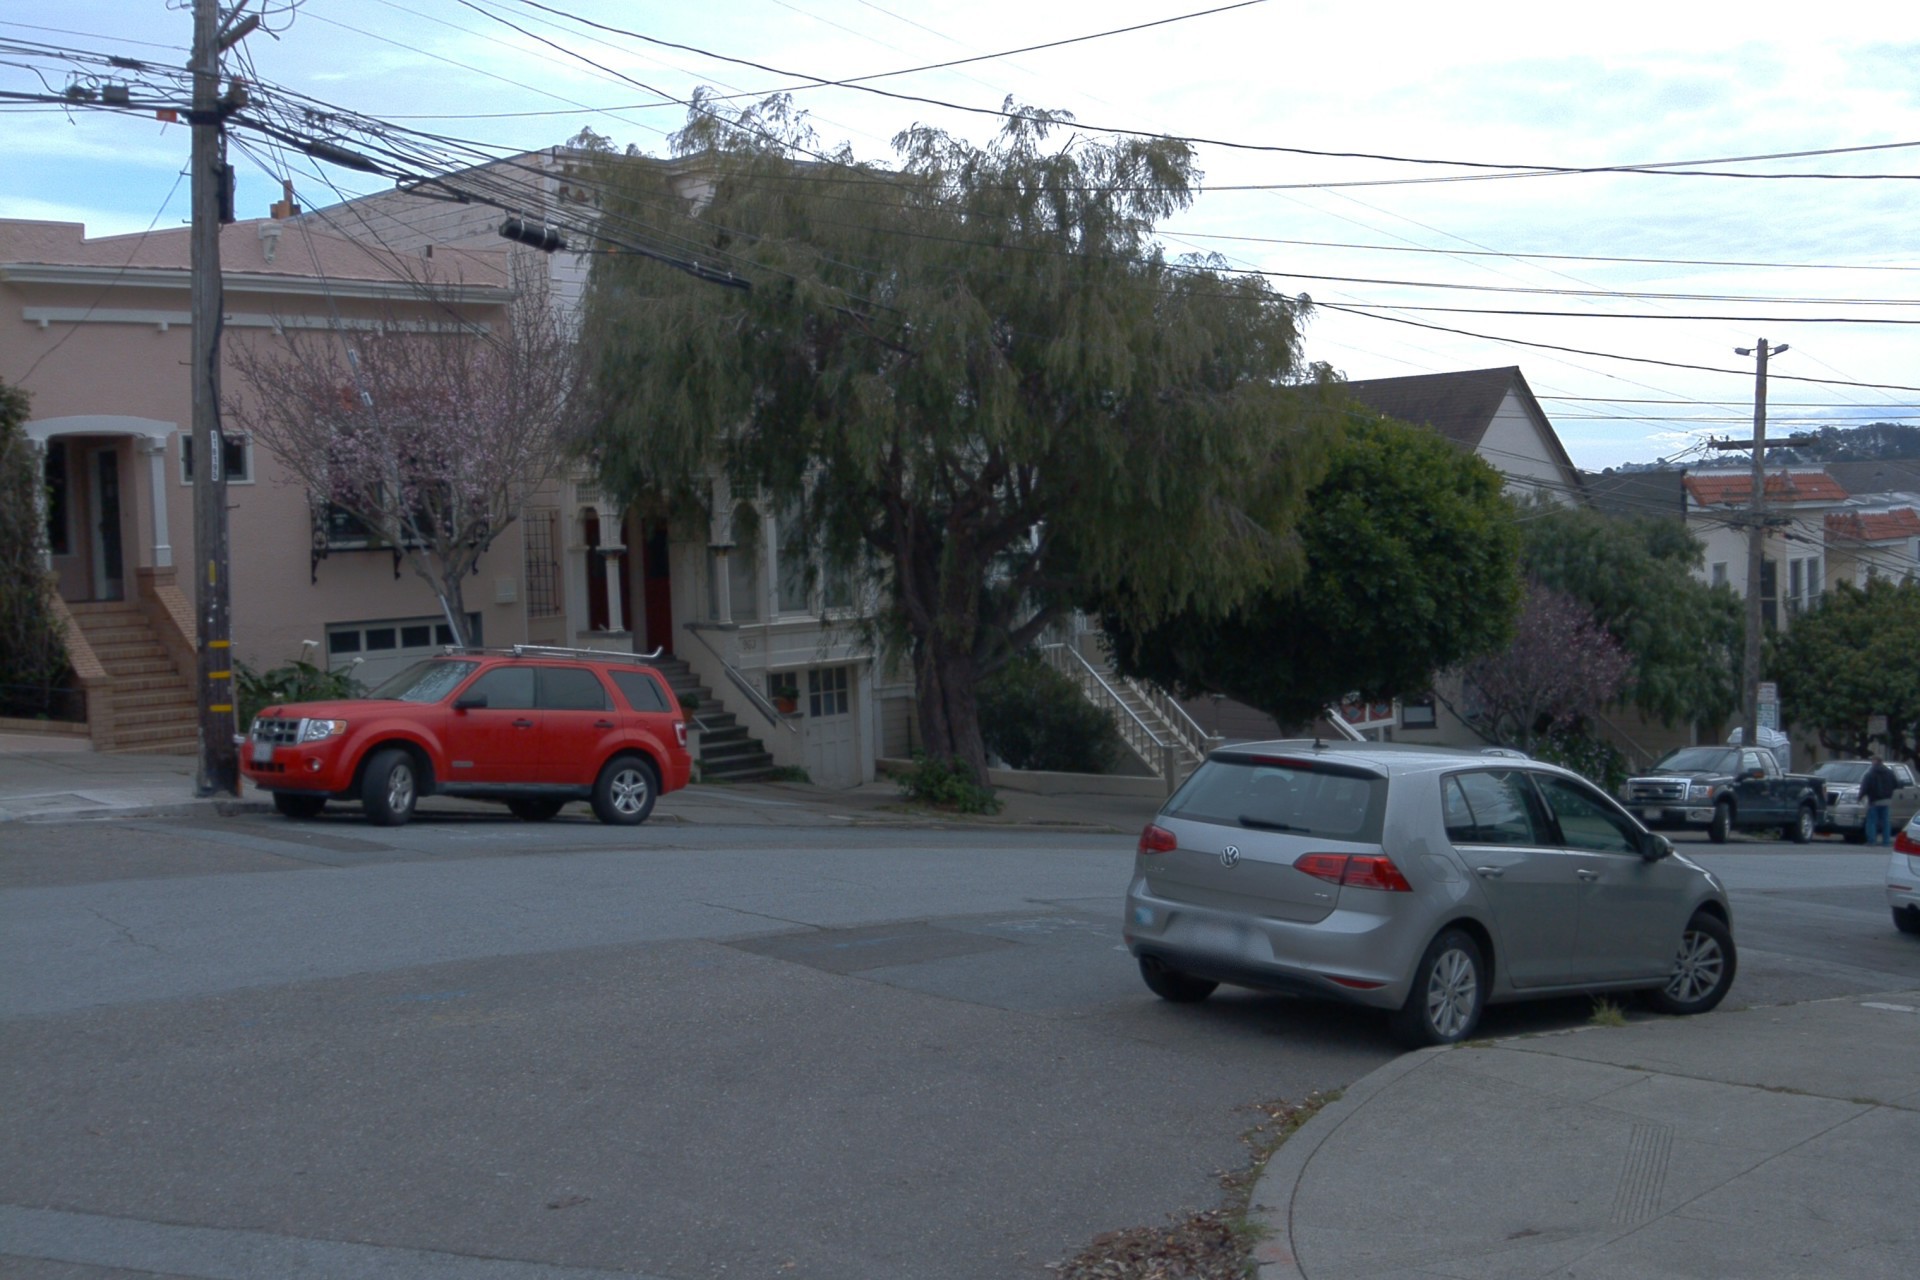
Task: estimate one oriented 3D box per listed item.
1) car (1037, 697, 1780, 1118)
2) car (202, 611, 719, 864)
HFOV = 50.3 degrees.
[{"bbox_3d":[2.591,1.239,11.193,2.126,1.720,4.090,2,1,44],"label":"car"},{"bbox_3d":[-4.805,0.858,20.093,2.106,2.180,4.456,2,1,45],"label":"car"}]
